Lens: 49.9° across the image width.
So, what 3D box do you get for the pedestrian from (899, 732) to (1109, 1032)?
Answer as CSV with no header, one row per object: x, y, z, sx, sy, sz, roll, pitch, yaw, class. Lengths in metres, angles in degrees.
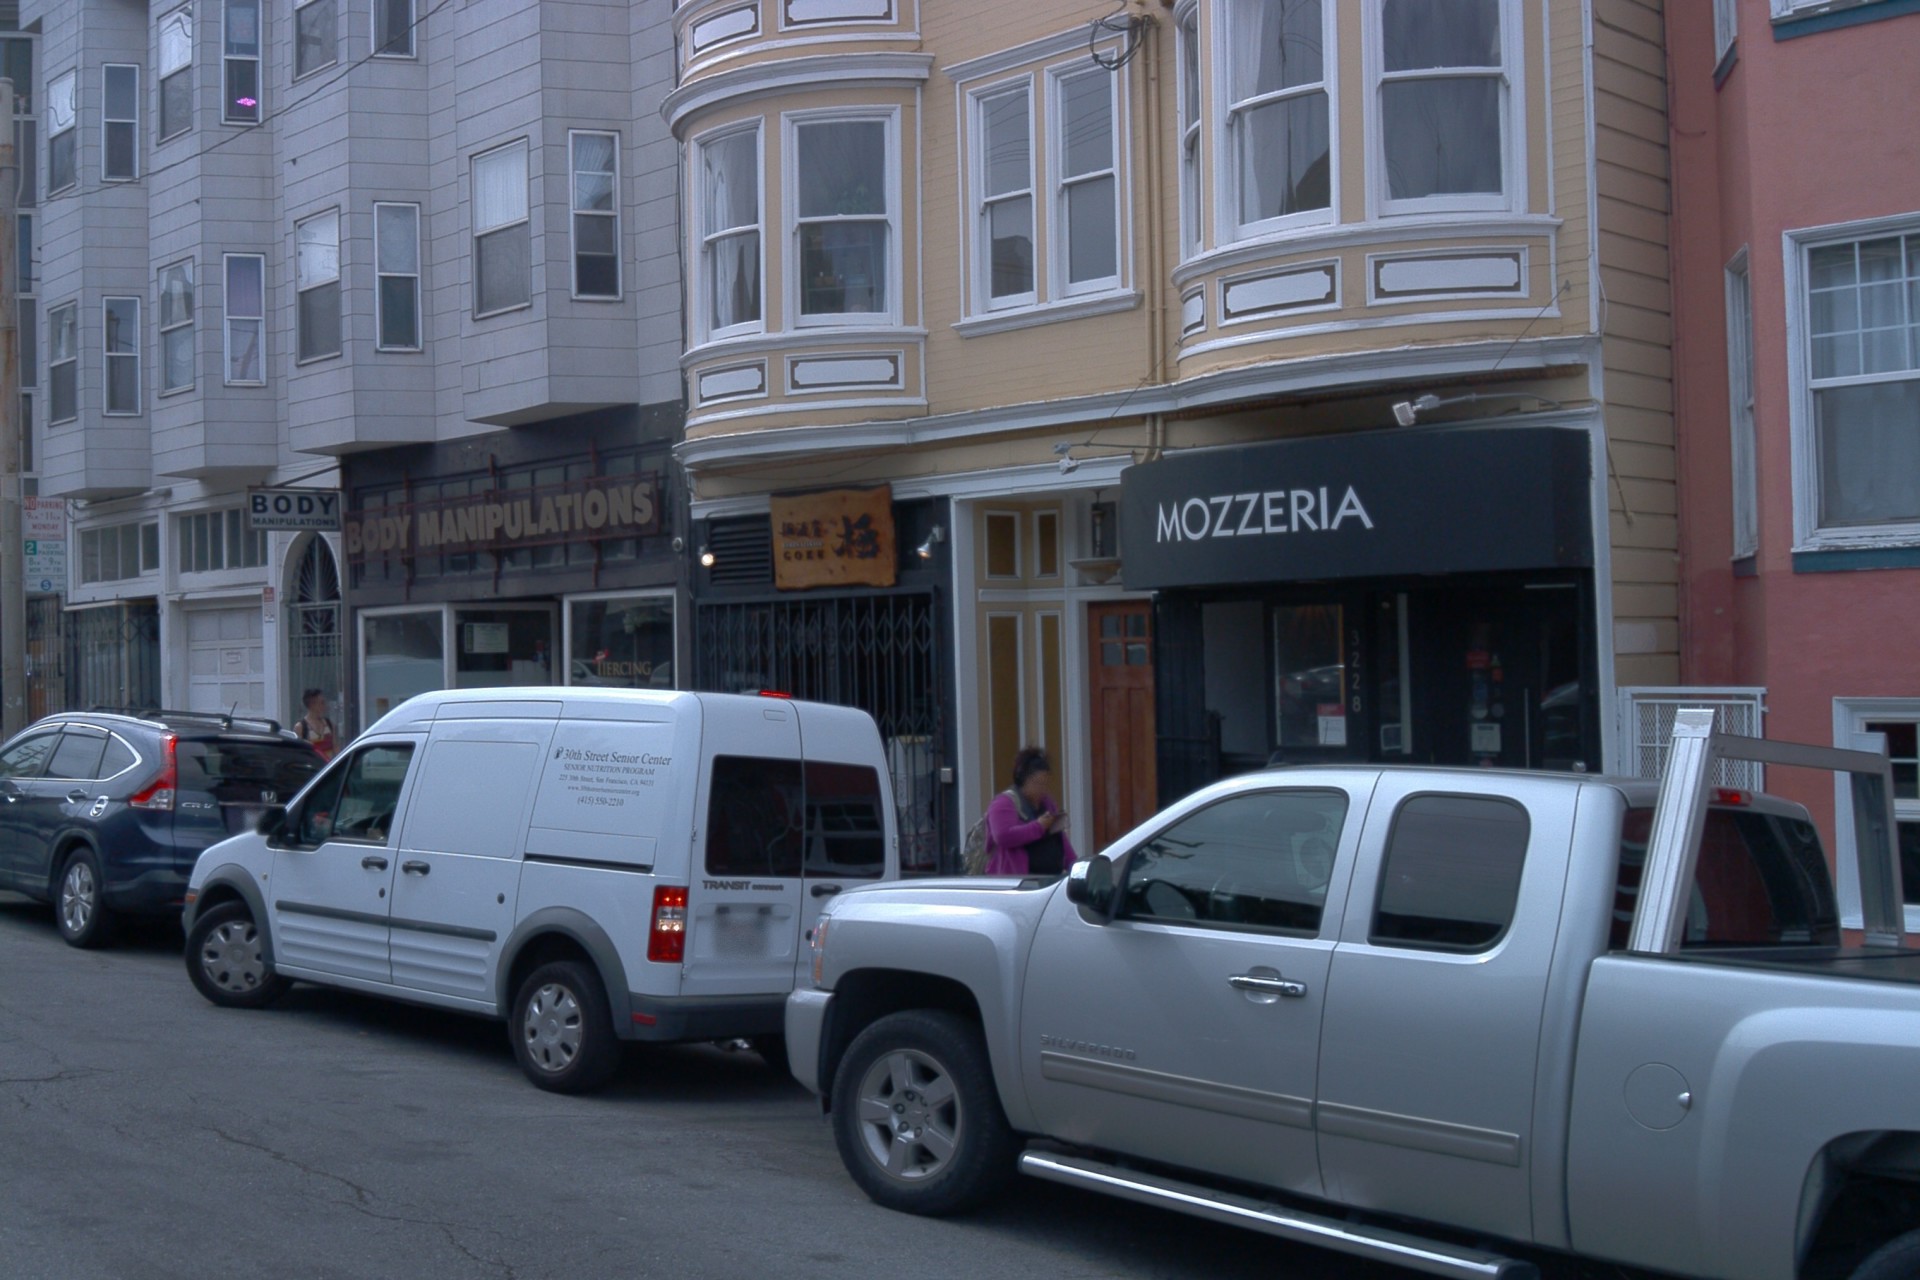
0.268,1.415,12.474,0.863,1.650,0.934,1,1,43,pedestrian

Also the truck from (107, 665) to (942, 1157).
-2.606,1.248,11.637,4.804,2.116,2.103,0,1,40,truck

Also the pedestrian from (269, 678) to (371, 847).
-6.554,1.229,21.150,0.687,1.660,0.843,-1,1,-43,pedestrian
